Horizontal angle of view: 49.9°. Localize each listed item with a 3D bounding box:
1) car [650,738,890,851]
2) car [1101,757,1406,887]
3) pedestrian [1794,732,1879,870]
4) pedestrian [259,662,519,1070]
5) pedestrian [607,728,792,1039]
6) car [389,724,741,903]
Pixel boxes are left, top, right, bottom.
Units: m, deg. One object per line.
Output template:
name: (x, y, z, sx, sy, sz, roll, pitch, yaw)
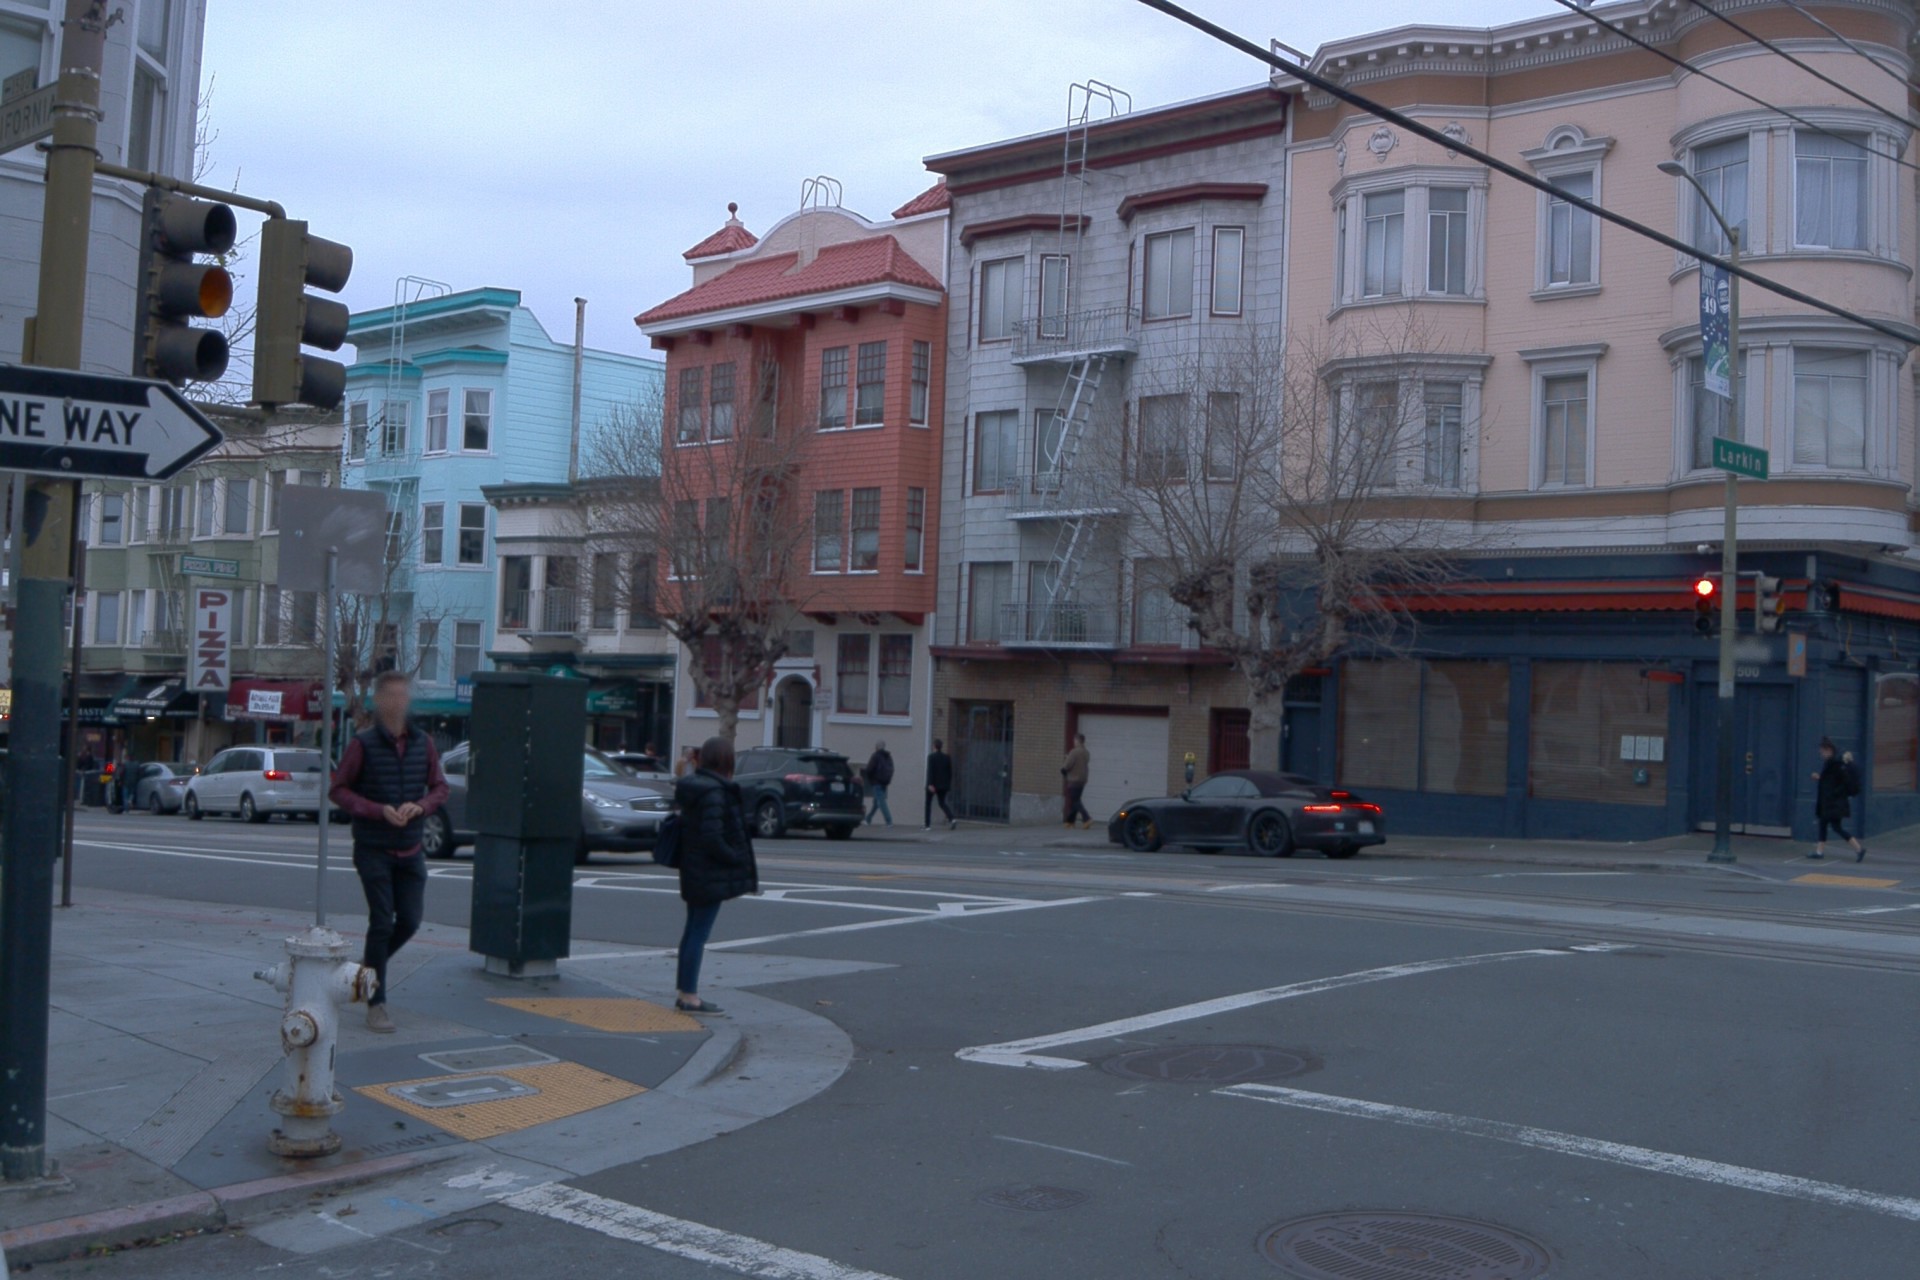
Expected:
car: (-3.618, 2.837, 38.769, 4.423, 1.700, 2.100, 1, 1, 44)
car: (4.284, 2.629, 30.587, 1.947, 1.460, 4.186, -1, 1, -43)
pedestrian: (12.180, 2.220, 28.674, 0.940, 1.820, 0.725, 1, 1, 36)
pedestrian: (-2.960, 1.095, 10.655, 0.804, 1.922, 1.262, -1, 1, -42)
pedestrian: (-1.536, 1.395, 12.155, 0.846, 1.692, 0.707, -1, 1, -35)
car: (-5.168, 2.135, 26.656, 4.671, 1.830, 2.108, 1, 1, 43)
